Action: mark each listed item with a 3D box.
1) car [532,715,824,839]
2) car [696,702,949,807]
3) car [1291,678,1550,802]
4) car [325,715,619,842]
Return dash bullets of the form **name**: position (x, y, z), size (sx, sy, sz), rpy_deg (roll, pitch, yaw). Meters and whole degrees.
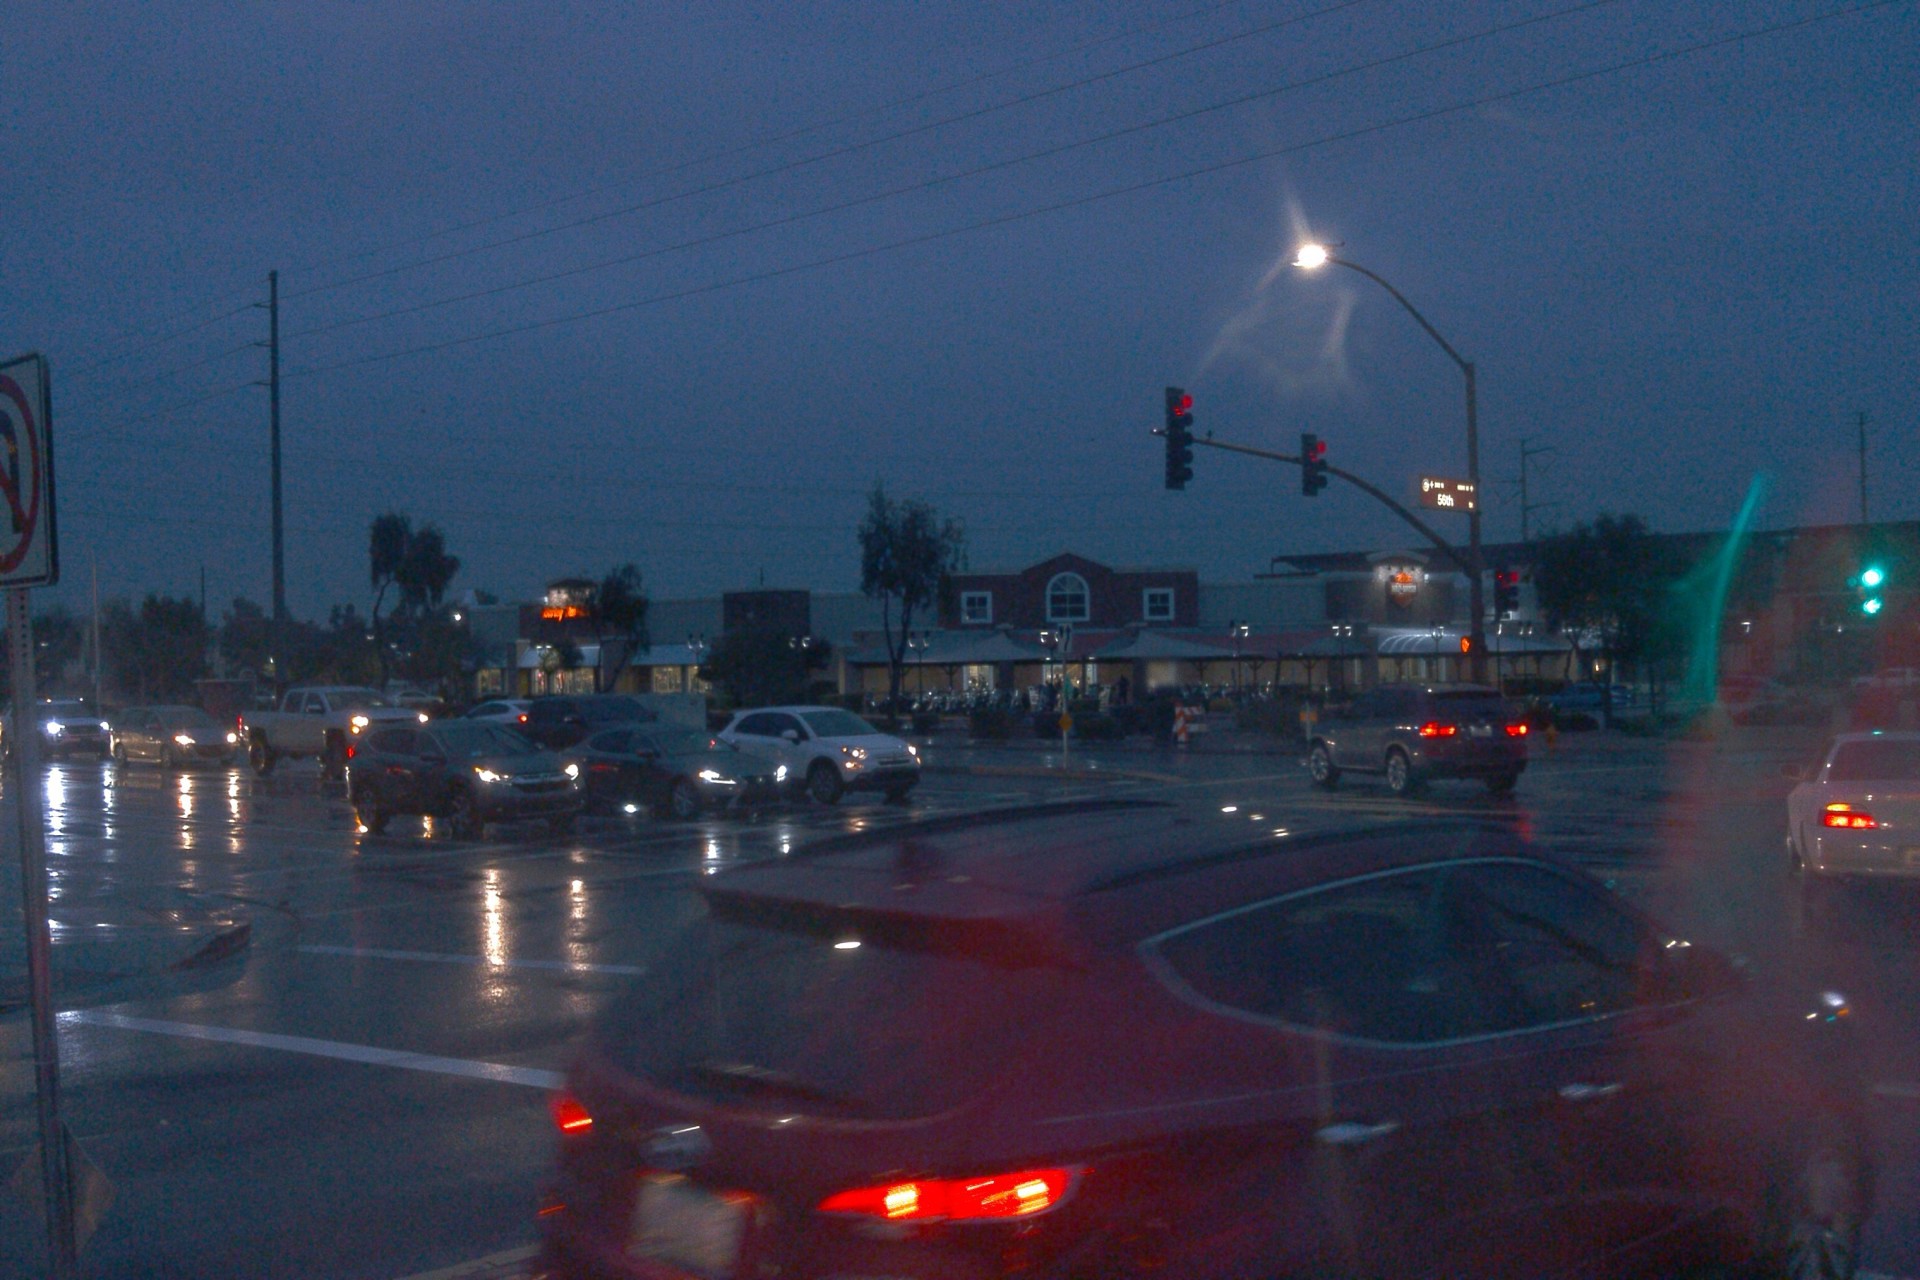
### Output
- **car**: position (-4.599, 2.132, 33.541), size (4.666, 1.730, 2.267), rpy_deg (-1, -1, 44)
- **car**: position (-2.432, 1.920, 36.080), size (2.095, 1.630, 4.278), rpy_deg (1, -1, -44)
- **car**: position (7.378, 1.550, 33.971), size (2.239, 1.840, 4.752), rpy_deg (0, -1, -14)
- **car**: position (-7.456, 2.029, 31.634), size (4.544, 1.660, 2.258), rpy_deg (-1, -1, 45)
